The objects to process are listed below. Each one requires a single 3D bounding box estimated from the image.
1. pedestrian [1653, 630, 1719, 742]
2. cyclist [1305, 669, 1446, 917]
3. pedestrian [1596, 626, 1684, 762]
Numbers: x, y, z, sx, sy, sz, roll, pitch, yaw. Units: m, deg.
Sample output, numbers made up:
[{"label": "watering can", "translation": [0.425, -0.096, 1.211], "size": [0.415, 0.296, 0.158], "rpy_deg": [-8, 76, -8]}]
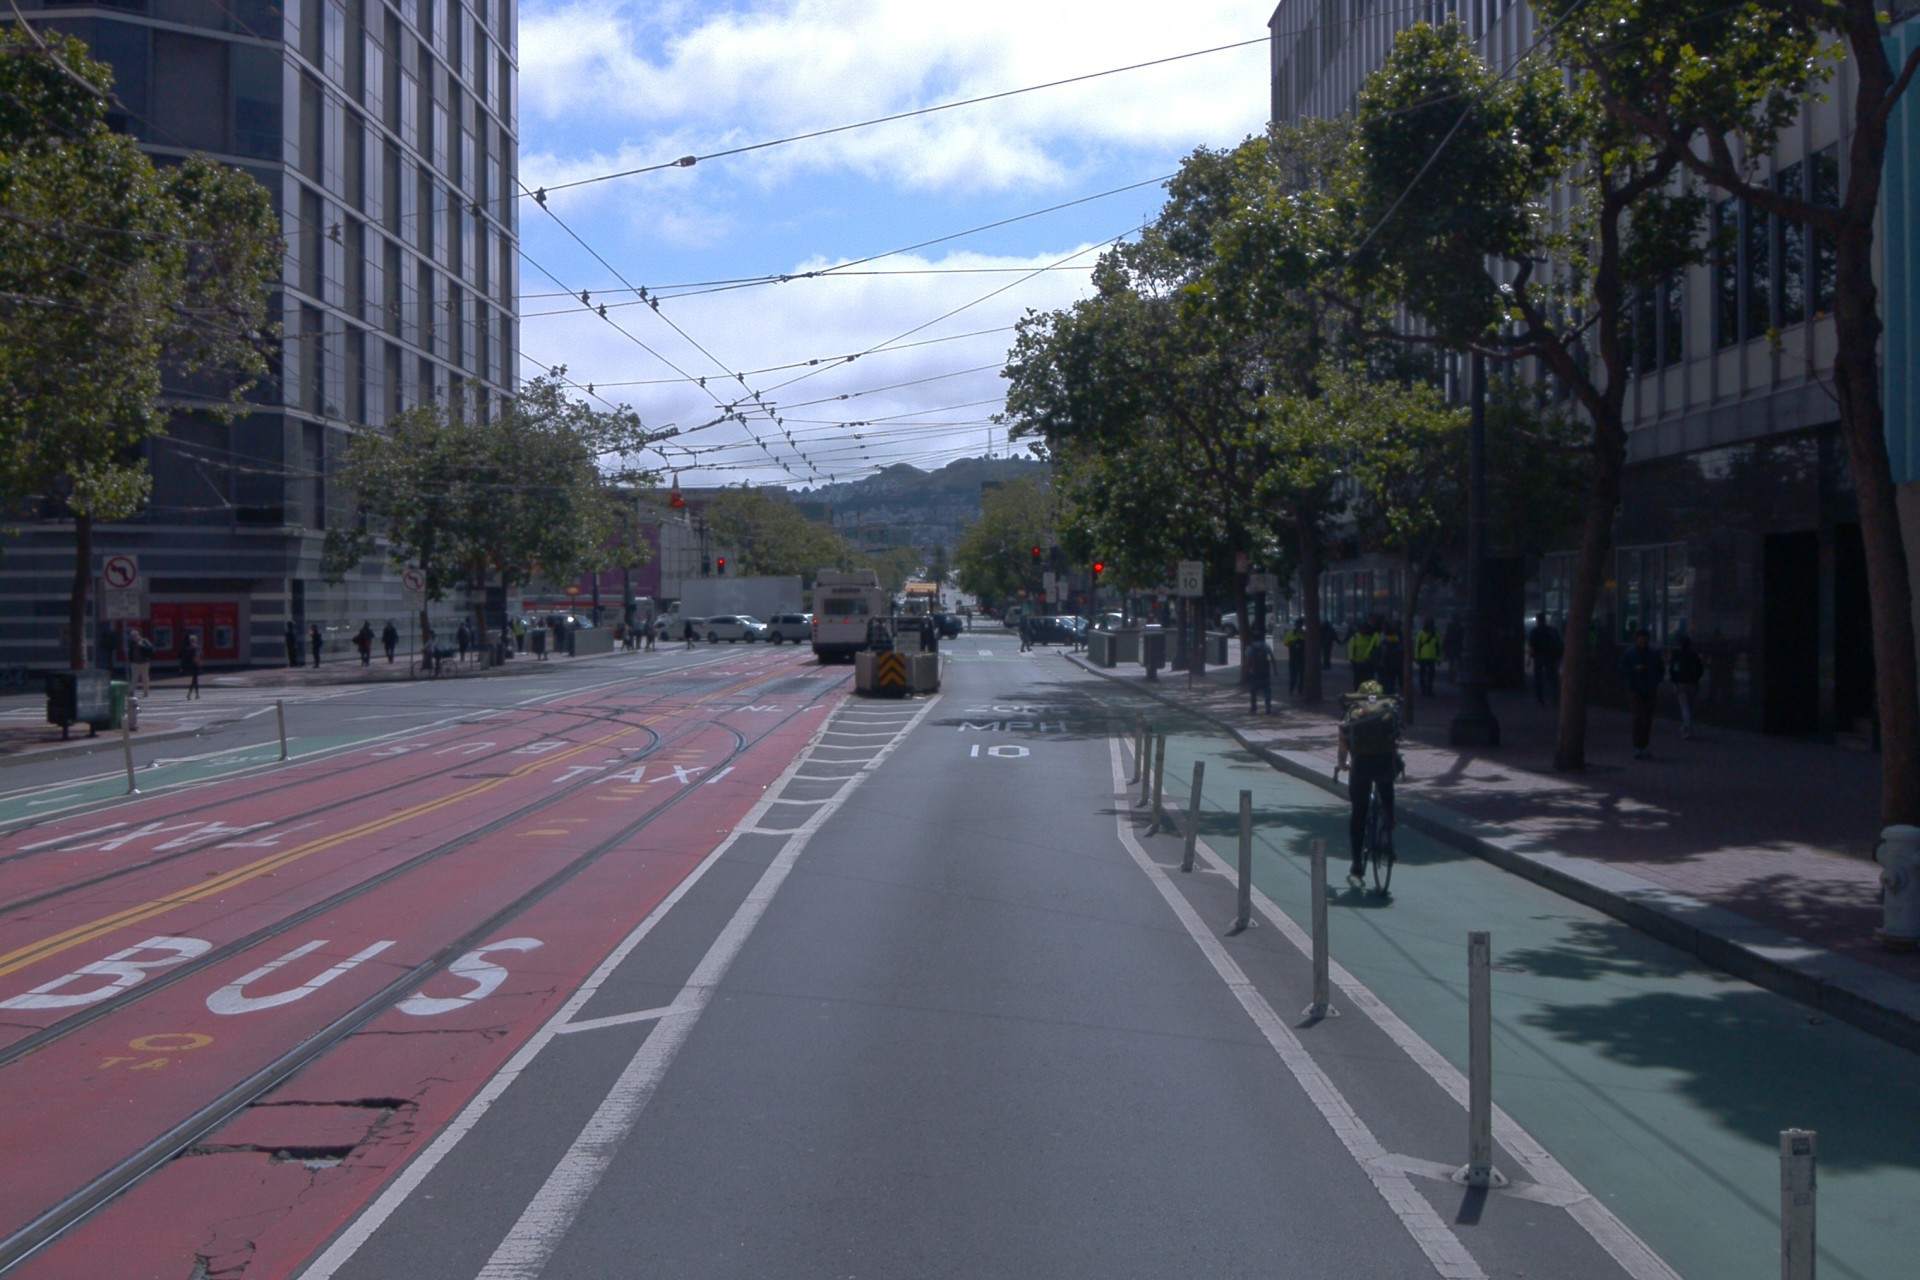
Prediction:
[{"label": "pedestrian", "translation": [10.938, 0.682, 31.004], "size": [0.677, 1.660, 1.044], "rpy_deg": [0, 1, 4]}, {"label": "cyclist", "translation": [3.195, 1.136, 15.966], "size": [0.807, 1.770, 1.801], "rpy_deg": [0, 1, 3]}, {"label": "pedestrian", "translation": [9.058, 0.701, 27.421], "size": [0.810, 1.770, 1.171], "rpy_deg": [0, 1, 2]}]
